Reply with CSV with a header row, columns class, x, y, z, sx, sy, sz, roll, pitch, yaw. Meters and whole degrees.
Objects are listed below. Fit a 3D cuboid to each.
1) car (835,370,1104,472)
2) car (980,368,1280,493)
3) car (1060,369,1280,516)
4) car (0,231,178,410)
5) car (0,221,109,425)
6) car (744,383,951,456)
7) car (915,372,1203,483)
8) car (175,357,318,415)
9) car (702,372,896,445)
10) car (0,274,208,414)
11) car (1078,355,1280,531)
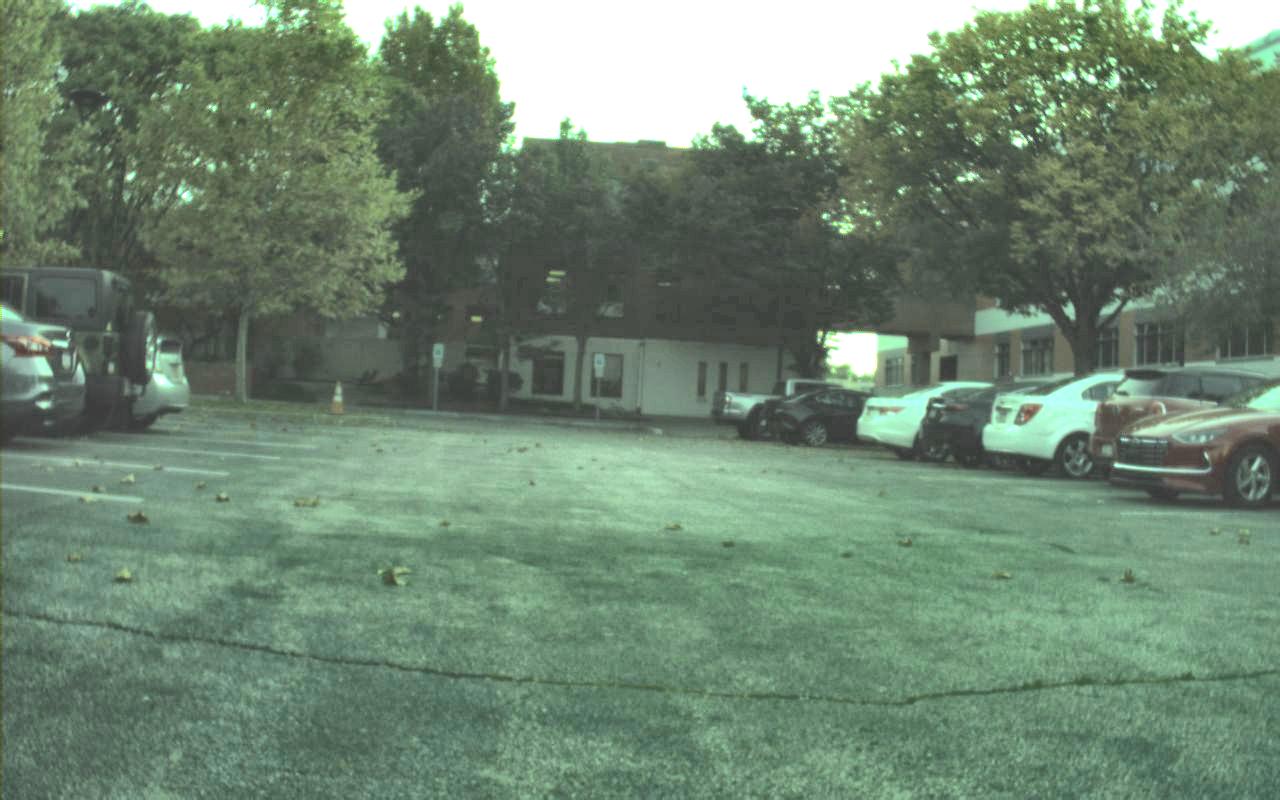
class,x,y,z,sx,sy,sz,roll,pitch,yaw
car,5.954,0.354,22.228,4.581,1.719,1.995,0,1,-6
car,7.232,0.417,17.157,4.418,1.656,1.925,0,1,0
car,7.694,0.492,14.814,4.434,1.656,1.941,0,1,-15
car,-7.502,-0.811,12.282,4.679,1.798,2.026,0,1,-11
car,-7.151,-0.629,9.715,4.455,1.637,1.964,0,1,-8
car,4.965,0.429,29.850,4.593,1.601,1.959,0,1,-16
car,6.823,0.409,19.558,4.470,1.652,1.948,0,1,-7
car,-13.849,-0.463,42.532,5.133,1.971,2.119,0,1,-16
car,4.386,0.212,34.867,5.011,1.917,2.098,0,1,-9
car,-7.877,-0.672,14.681,4.479,1.666,1.975,0,1,-9
car,6.989,0.395,11.835,4.622,1.600,1.966,0,1,-9
